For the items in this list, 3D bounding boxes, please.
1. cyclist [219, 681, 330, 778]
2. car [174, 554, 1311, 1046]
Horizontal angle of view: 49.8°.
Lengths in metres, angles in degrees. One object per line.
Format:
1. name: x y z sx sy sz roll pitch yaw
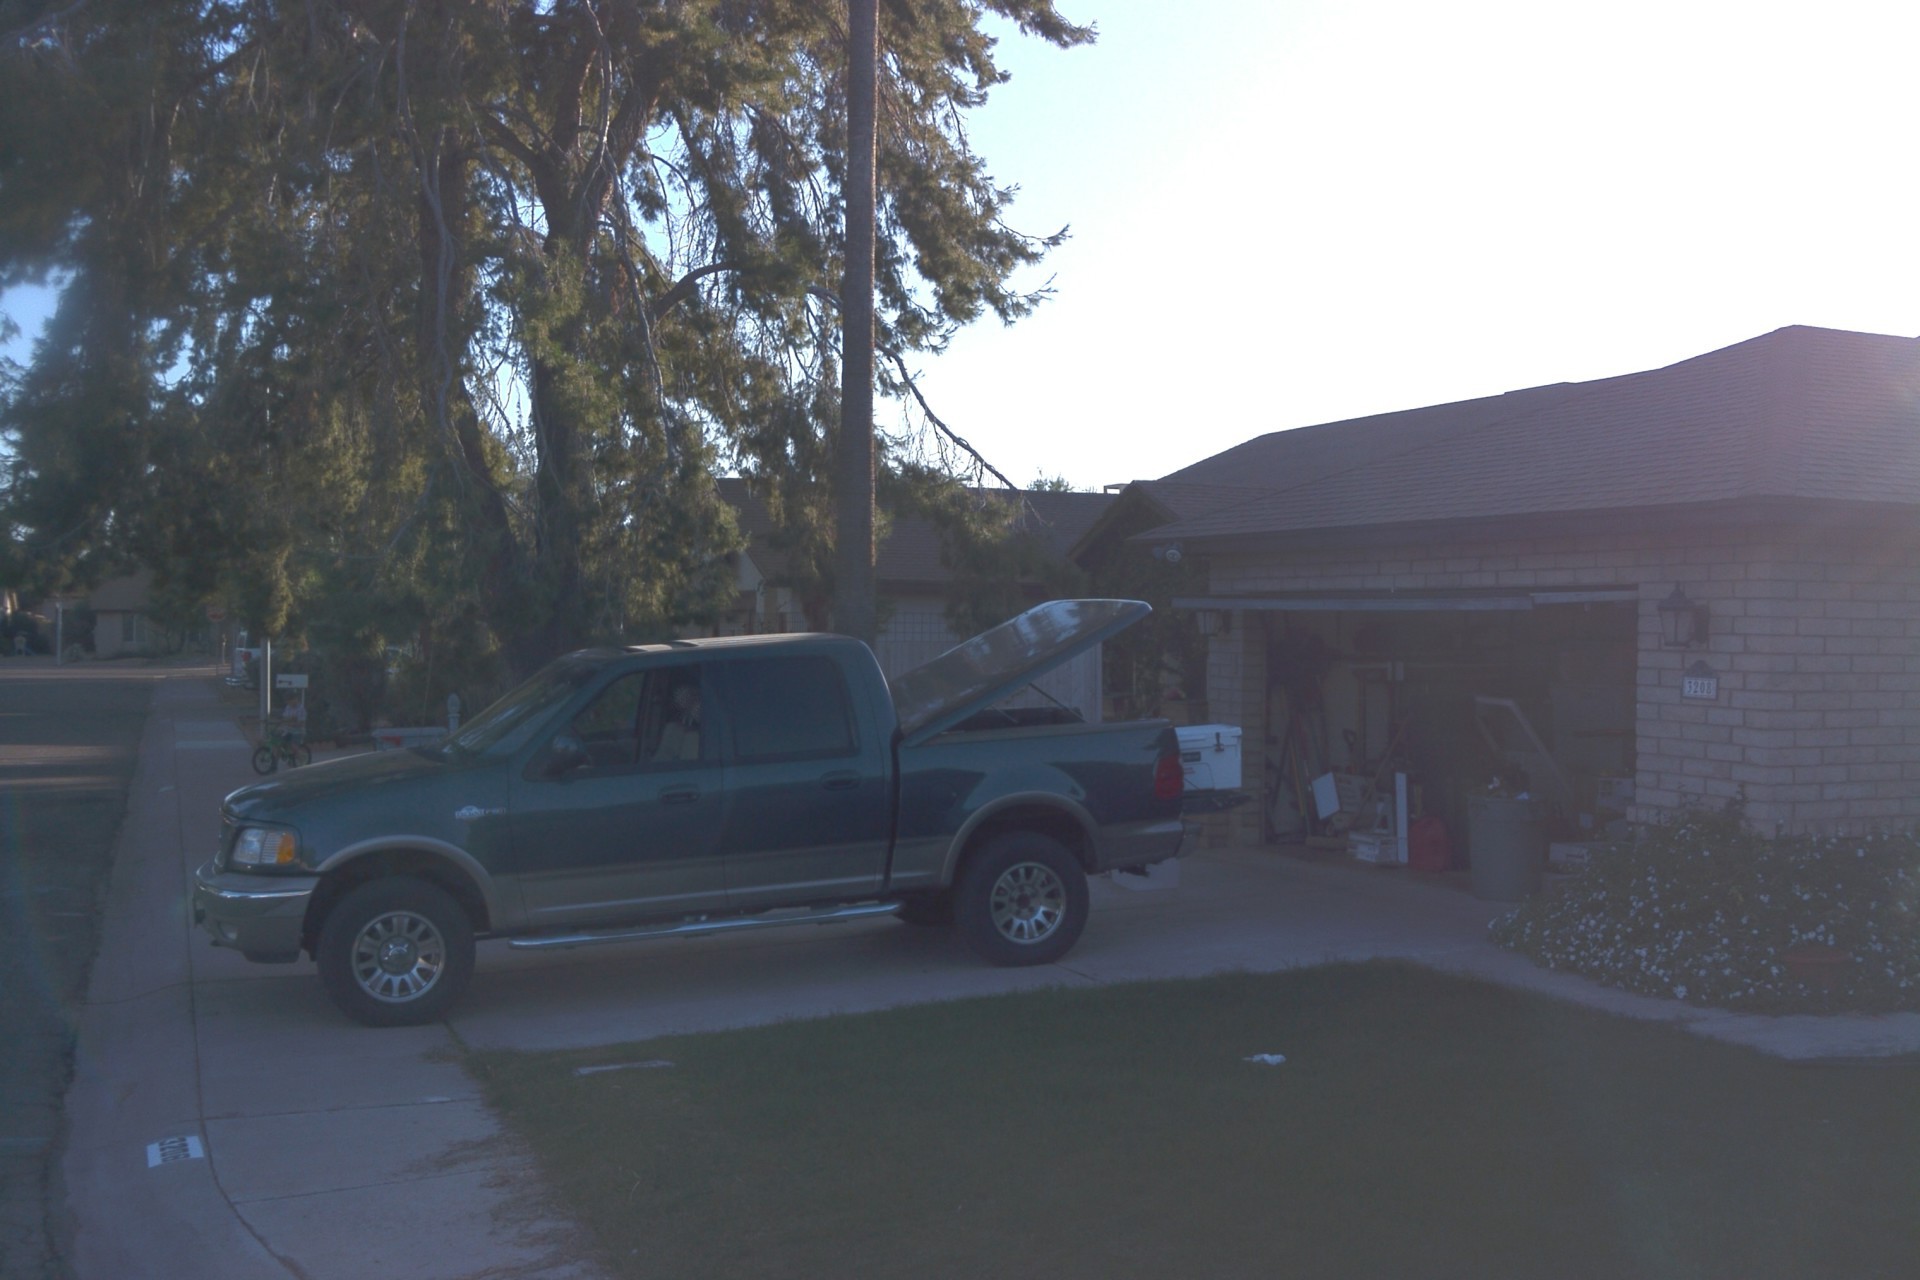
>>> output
1. cyclist: -9.389 1.206 28.378 0.763 1.280 1.282 0 -1 25
2. car: -1.287 0.797 12.187 6.233 2.360 2.443 0 -1 -21
